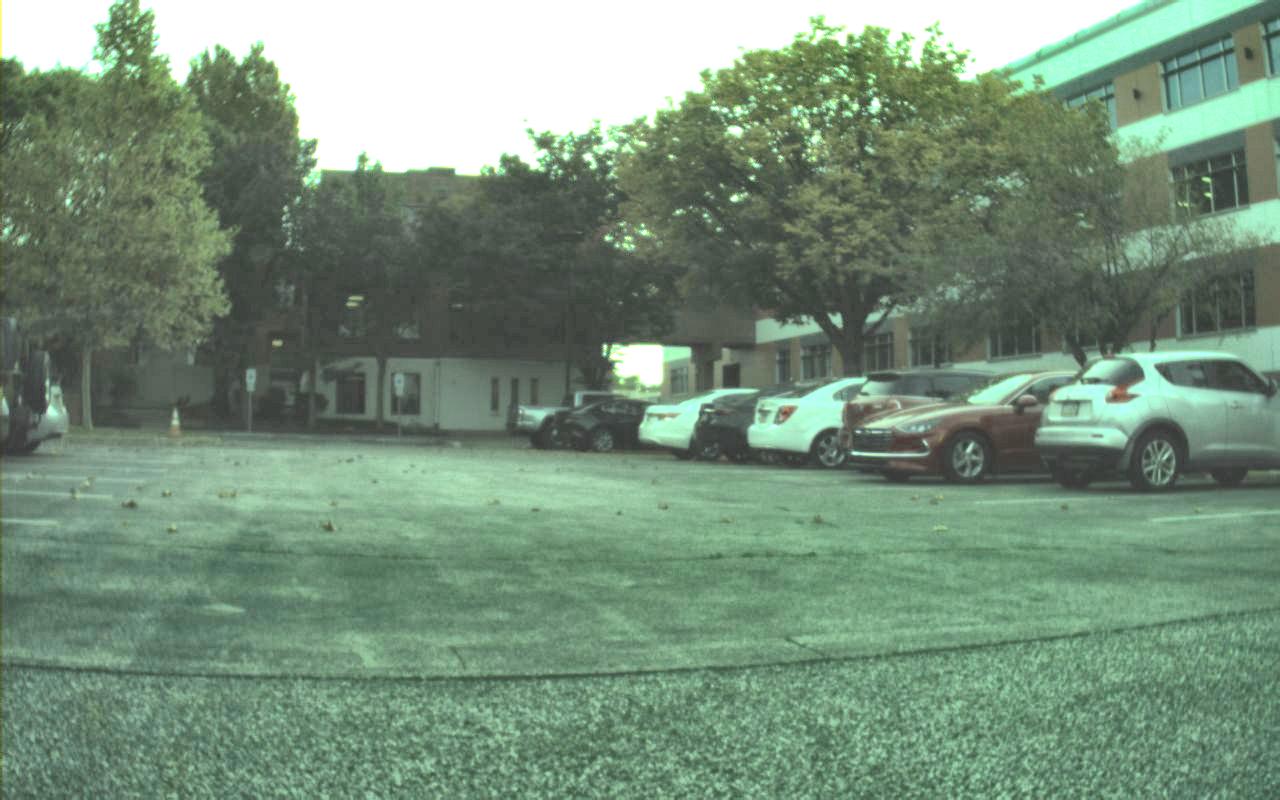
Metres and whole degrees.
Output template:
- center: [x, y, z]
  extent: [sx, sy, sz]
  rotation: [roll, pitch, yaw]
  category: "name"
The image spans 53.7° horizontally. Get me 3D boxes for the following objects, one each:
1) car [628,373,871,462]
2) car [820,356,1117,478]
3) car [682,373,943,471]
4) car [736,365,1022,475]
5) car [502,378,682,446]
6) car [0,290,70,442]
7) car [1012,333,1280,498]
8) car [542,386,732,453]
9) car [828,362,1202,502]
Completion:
- center: [2.218, 0.317, 25.641]
  extent: [4.566, 1.697, 1.970]
  rotation: [0, 1, -15]
  category: "car"
- center: [5.080, 0.200, 18.658]
  extent: [4.432, 1.660, 1.939]
  rotation: [0, 1, -25]
  category: "car"
- center: [3.220, 0.354, 23.294]
  extent: [4.480, 1.671, 1.960]
  rotation: [0, 1, -18]
  category: "car"
- center: [4.016, 0.287, 20.882]
  extent: [4.471, 1.687, 1.950]
  rotation: [0, 1, -14]
  category: "car"
- center: [-1.473, 0.323, 37.837]
  extent: [5.019, 1.917, 2.094]
  rotation: [0, 1, -18]
  category: "car"
- center: [-9.583, -0.378, 13.654]
  extent: [4.686, 1.798, 2.023]
  rotation: [0, 1, -20]
  category: "car"
- center: [6.446, 0.149, 13.242]
  extent: [4.257, 1.632, 1.885]
  rotation: [0, 1, -15]
  category: "car"
- center: [-0.077, 0.464, 32.992]
  extent: [4.599, 1.601, 1.956]
  rotation: [0, 1, -25]
  category: "car"
- center: [4.892, 0.343, 15.586]
  extent: [4.658, 1.586, 1.971]
  rotation: [0, 1, -17]
  category: "car"
